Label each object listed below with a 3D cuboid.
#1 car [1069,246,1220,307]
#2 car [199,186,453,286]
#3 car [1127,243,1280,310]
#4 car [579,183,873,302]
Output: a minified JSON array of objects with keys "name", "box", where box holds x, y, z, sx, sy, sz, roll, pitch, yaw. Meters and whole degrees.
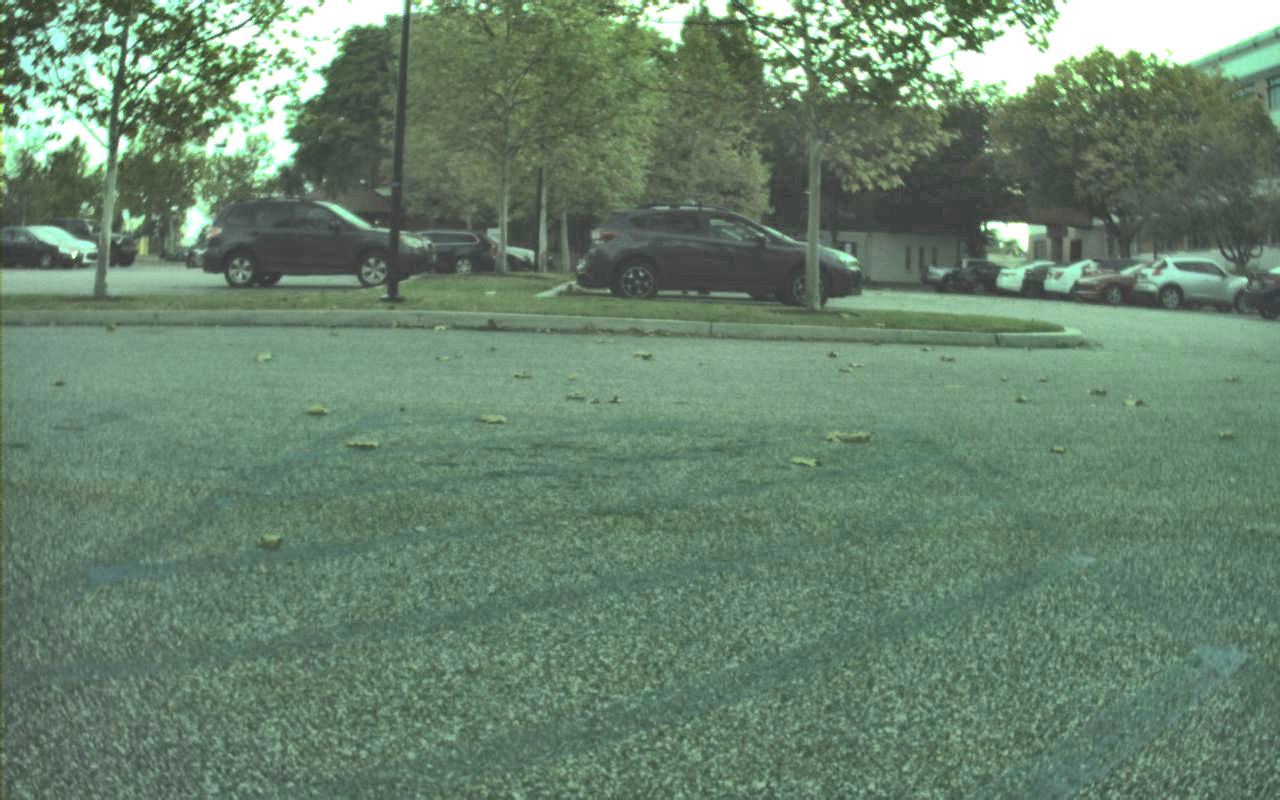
[{"name":"car","box":[15.461,-3.692,36.145,4.498,1.629,1.964,1,1,4]},{"name":"car","box":[-5.955,-3.050,23.244,4.588,1.657,1.975,0,1,0]},{"name":"car","box":[16.426,-3.459,33.466,4.544,1.663,1.969,1,1,3]},{"name":"car","box":[1.321,-2.498,20.275,4.541,1.677,1.955,0,1,-2]}]
